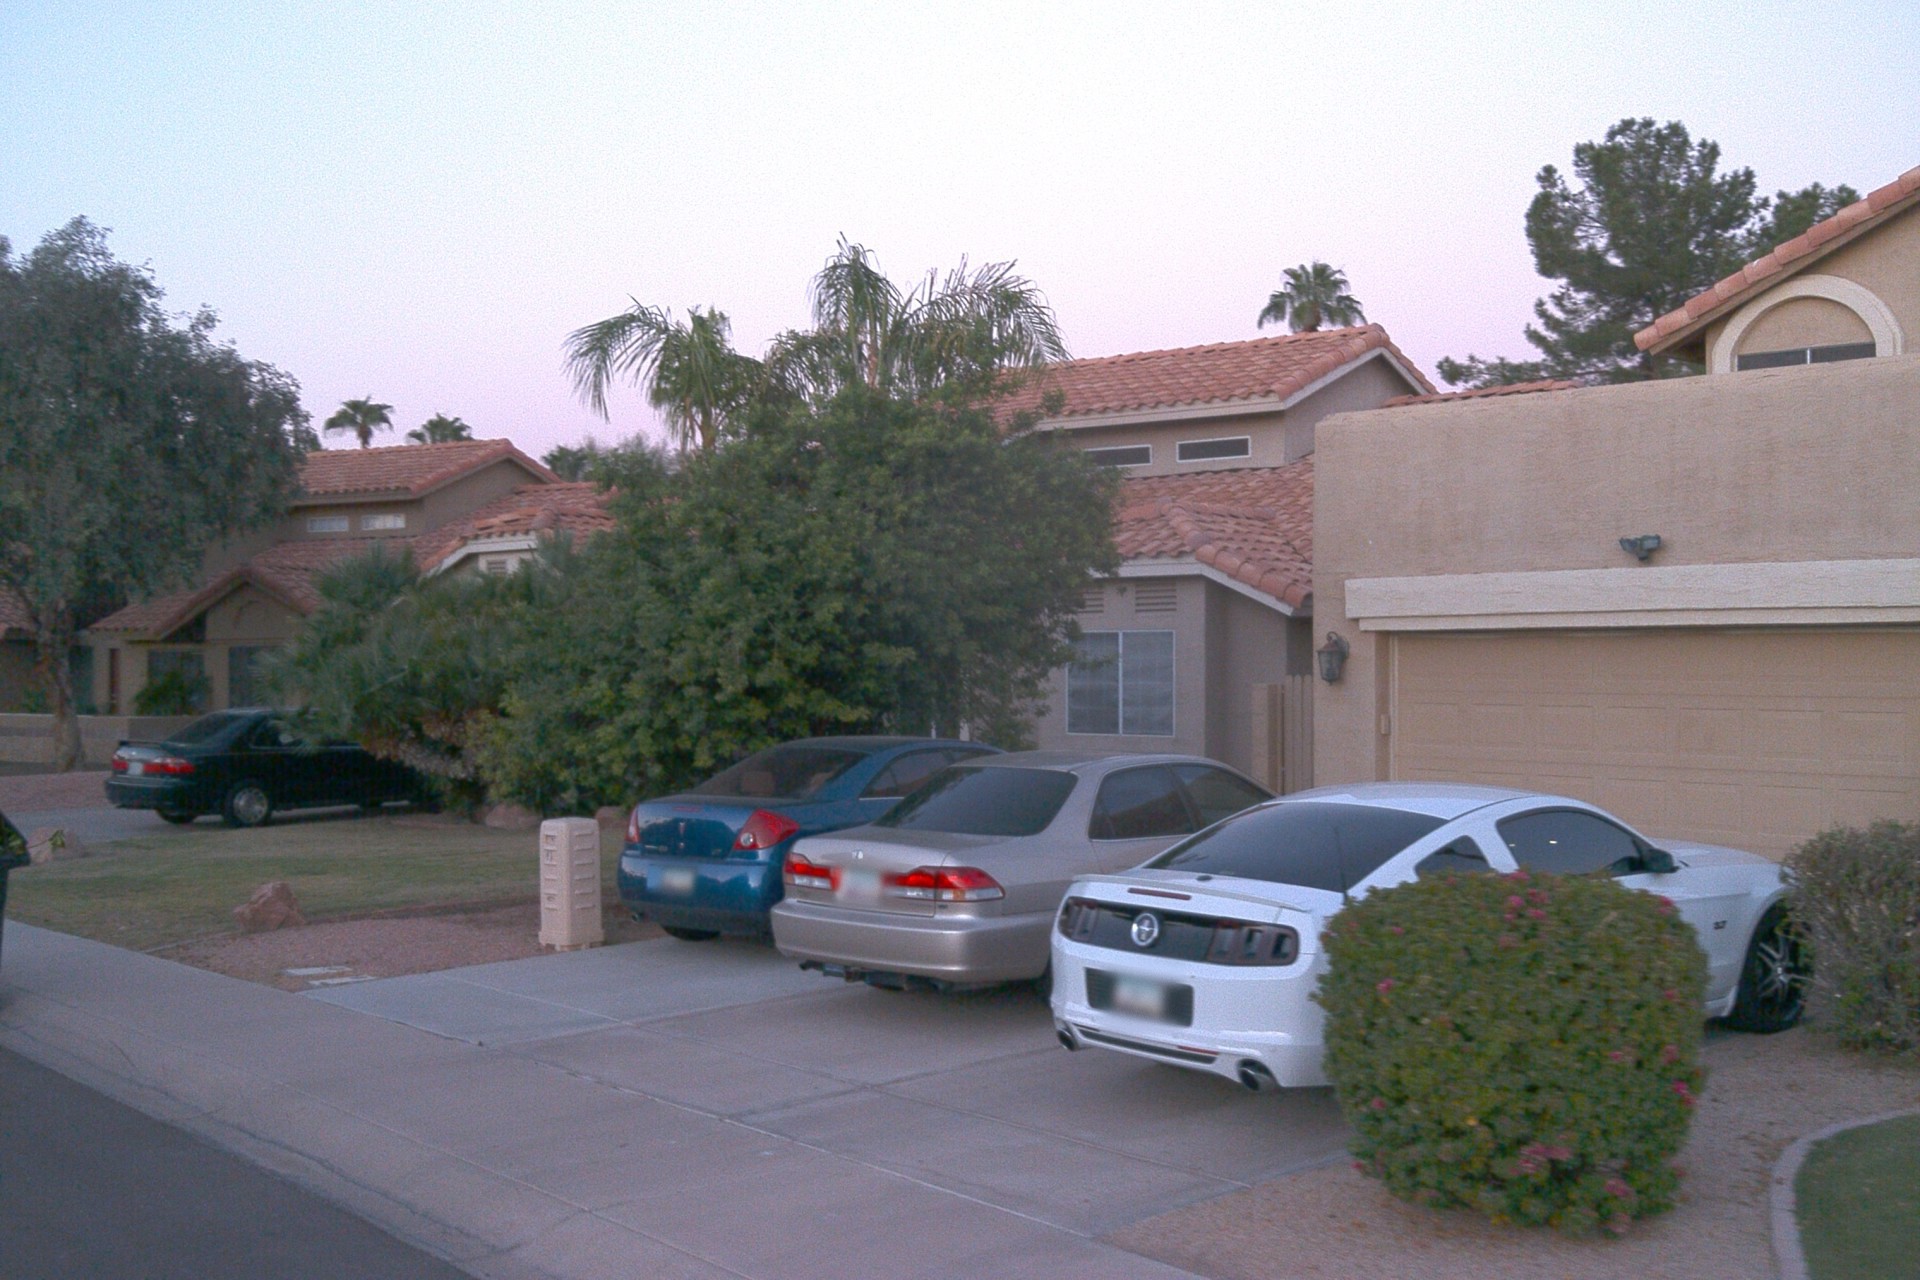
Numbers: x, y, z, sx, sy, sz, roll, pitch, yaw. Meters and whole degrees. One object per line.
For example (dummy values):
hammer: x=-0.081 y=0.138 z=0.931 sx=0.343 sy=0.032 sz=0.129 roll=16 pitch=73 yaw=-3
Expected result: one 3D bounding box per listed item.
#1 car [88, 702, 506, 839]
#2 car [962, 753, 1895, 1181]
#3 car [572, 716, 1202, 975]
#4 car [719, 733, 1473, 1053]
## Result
car: x=-8.260 y=1.565 z=26.294 sx=2.065 sy=1.490 sz=4.606 roll=0 pitch=-1 yaw=42
car: x=2.529 y=1.428 z=10.599 sx=4.754 sy=1.520 sz=2.075 roll=1 pitch=-1 yaw=-38
car: x=-0.372 y=1.388 z=15.635 sx=2.002 sy=1.510 sz=4.773 roll=0 pitch=-1 yaw=41
car: x=1.049 y=1.418 z=13.258 sx=2.074 sy=1.500 sz=4.886 roll=0 pitch=-1 yaw=45
